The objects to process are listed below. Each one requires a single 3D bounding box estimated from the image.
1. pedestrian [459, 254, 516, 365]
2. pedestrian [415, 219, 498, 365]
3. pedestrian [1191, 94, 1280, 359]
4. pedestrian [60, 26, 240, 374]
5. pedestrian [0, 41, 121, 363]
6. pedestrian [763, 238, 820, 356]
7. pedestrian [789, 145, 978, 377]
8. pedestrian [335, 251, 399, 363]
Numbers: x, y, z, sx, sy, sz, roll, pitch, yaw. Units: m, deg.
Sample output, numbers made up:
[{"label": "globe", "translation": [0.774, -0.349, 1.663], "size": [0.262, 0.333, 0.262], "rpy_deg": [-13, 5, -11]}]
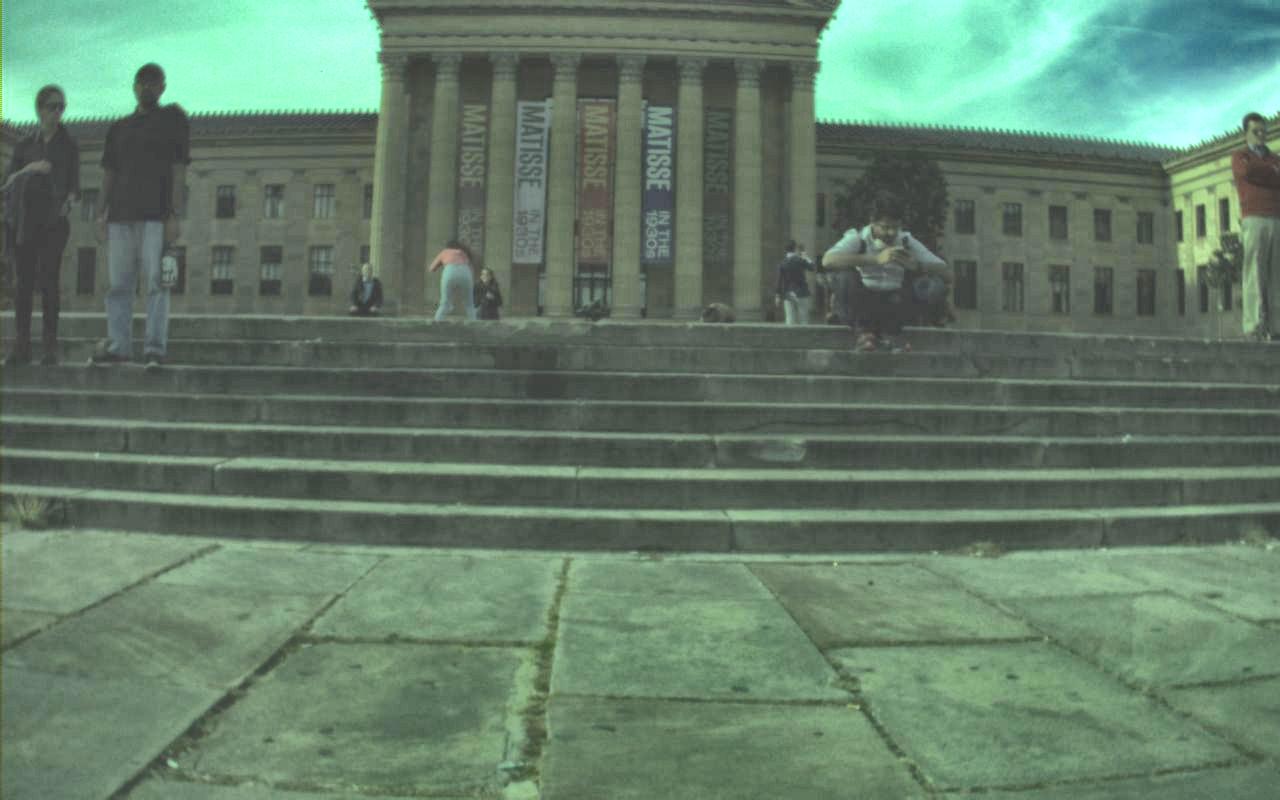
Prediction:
[{"label": "pedestrian", "translation": [-2.416, -1.402, 19.783], "size": [0.866, 1.717, 0.865], "rpy_deg": [0, 0, -8]}, {"label": "pedestrian", "translation": [-2.278, -1.306, 15.445], "size": [0.844, 1.752, 0.782], "rpy_deg": [0, 0, -24]}, {"label": "pedestrian", "translation": [4.510, -1.205, 8.234], "size": [0.769, 1.854, 0.767], "rpy_deg": [0, 0, 5]}, {"label": "pedestrian", "translation": [-2.744, -1.063, 6.523], "size": [0.754, 1.858, 0.762], "rpy_deg": [0, 0, 0]}, {"label": "pedestrian", "translation": [-3.503, -1.096, 6.535], "size": [0.783, 1.802, 0.792], "rpy_deg": [0, 0, -15]}, {"label": "pedestrian", "translation": [2.349, -1.577, 19.512], "size": [0.788, 1.782, 0.779], "rpy_deg": [0, 0, -1]}, {"label": "pedestrian", "translation": [1.407, -0.765, 7.261], "size": [0.788, 1.257, 0.880], "rpy_deg": [0, 0, -18]}, {"label": "pedestrian", "translation": [-4.323, -1.439, 19.500], "size": [0.831, 1.721, 0.827], "rpy_deg": [0, 0, -25]}]
